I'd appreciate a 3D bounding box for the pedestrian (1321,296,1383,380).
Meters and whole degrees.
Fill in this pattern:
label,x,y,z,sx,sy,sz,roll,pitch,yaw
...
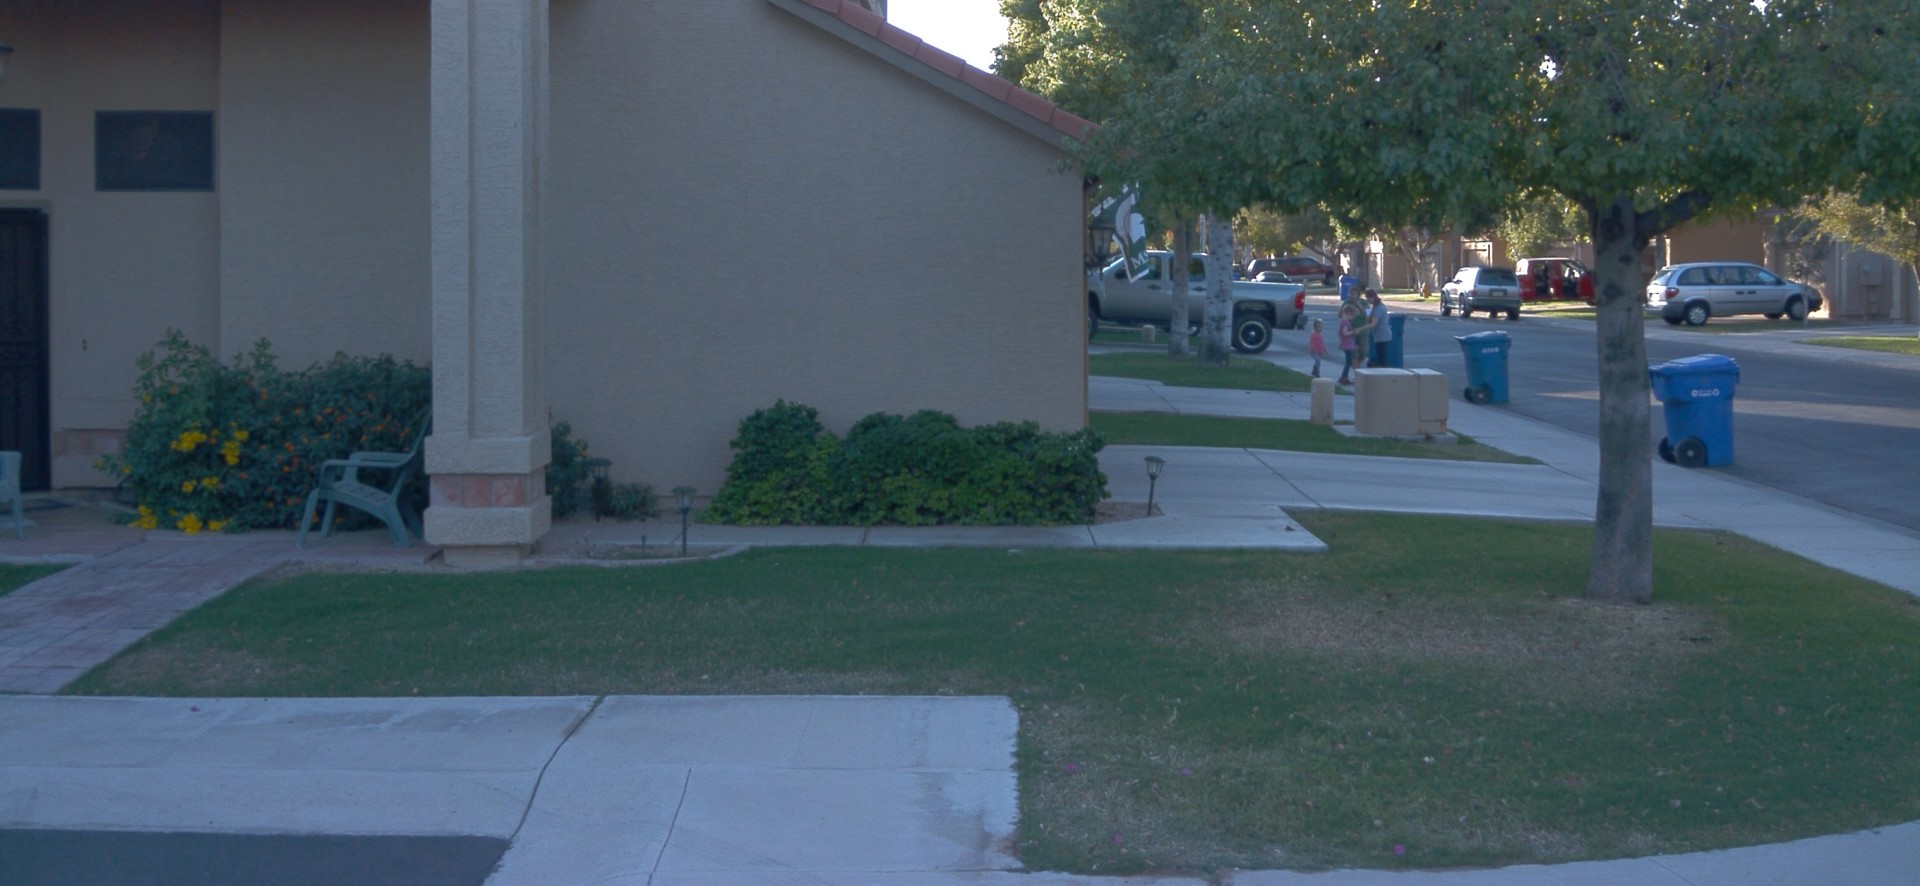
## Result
label,x,y,z,sx,sy,sz,roll,pitch,yaw
pedestrian,6.185,-1.666,32.758,0.693,1.277,0.663,-2,3,-42

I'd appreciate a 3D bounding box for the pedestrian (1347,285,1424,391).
label,x,y,z,sx,sy,sz,roll,pitch,yaw
pedestrian,6.764,-1.691,33.010,0.947,1.617,0.756,-2,3,-36
